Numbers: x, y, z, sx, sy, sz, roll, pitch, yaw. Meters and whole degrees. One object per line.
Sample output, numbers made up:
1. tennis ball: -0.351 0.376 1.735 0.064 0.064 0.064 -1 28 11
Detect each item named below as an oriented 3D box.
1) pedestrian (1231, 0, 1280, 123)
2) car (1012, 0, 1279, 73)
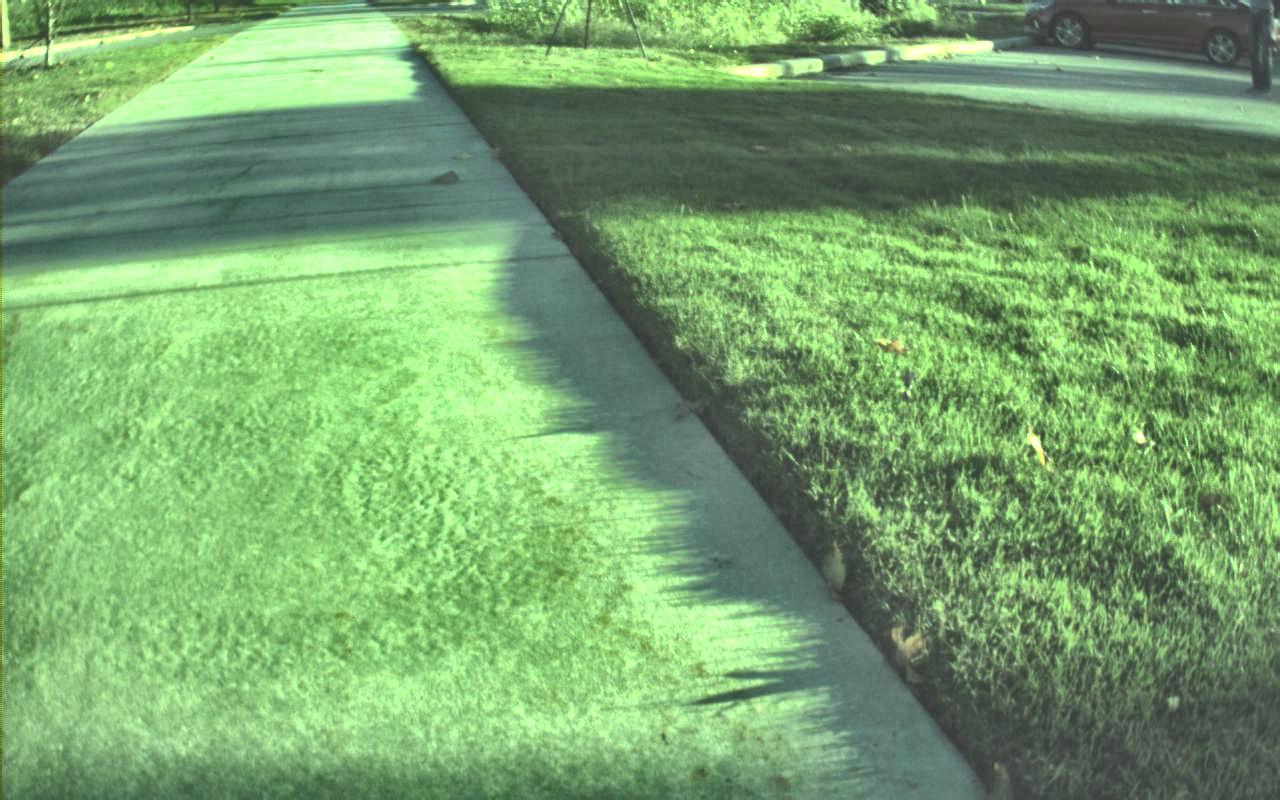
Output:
1. pedestrian: 7.444 -4.108 12.972 0.788 1.665 0.769 4 15 18
2. car: 9.050 -6.703 20.063 4.819 1.603 2.024 8 17 29
